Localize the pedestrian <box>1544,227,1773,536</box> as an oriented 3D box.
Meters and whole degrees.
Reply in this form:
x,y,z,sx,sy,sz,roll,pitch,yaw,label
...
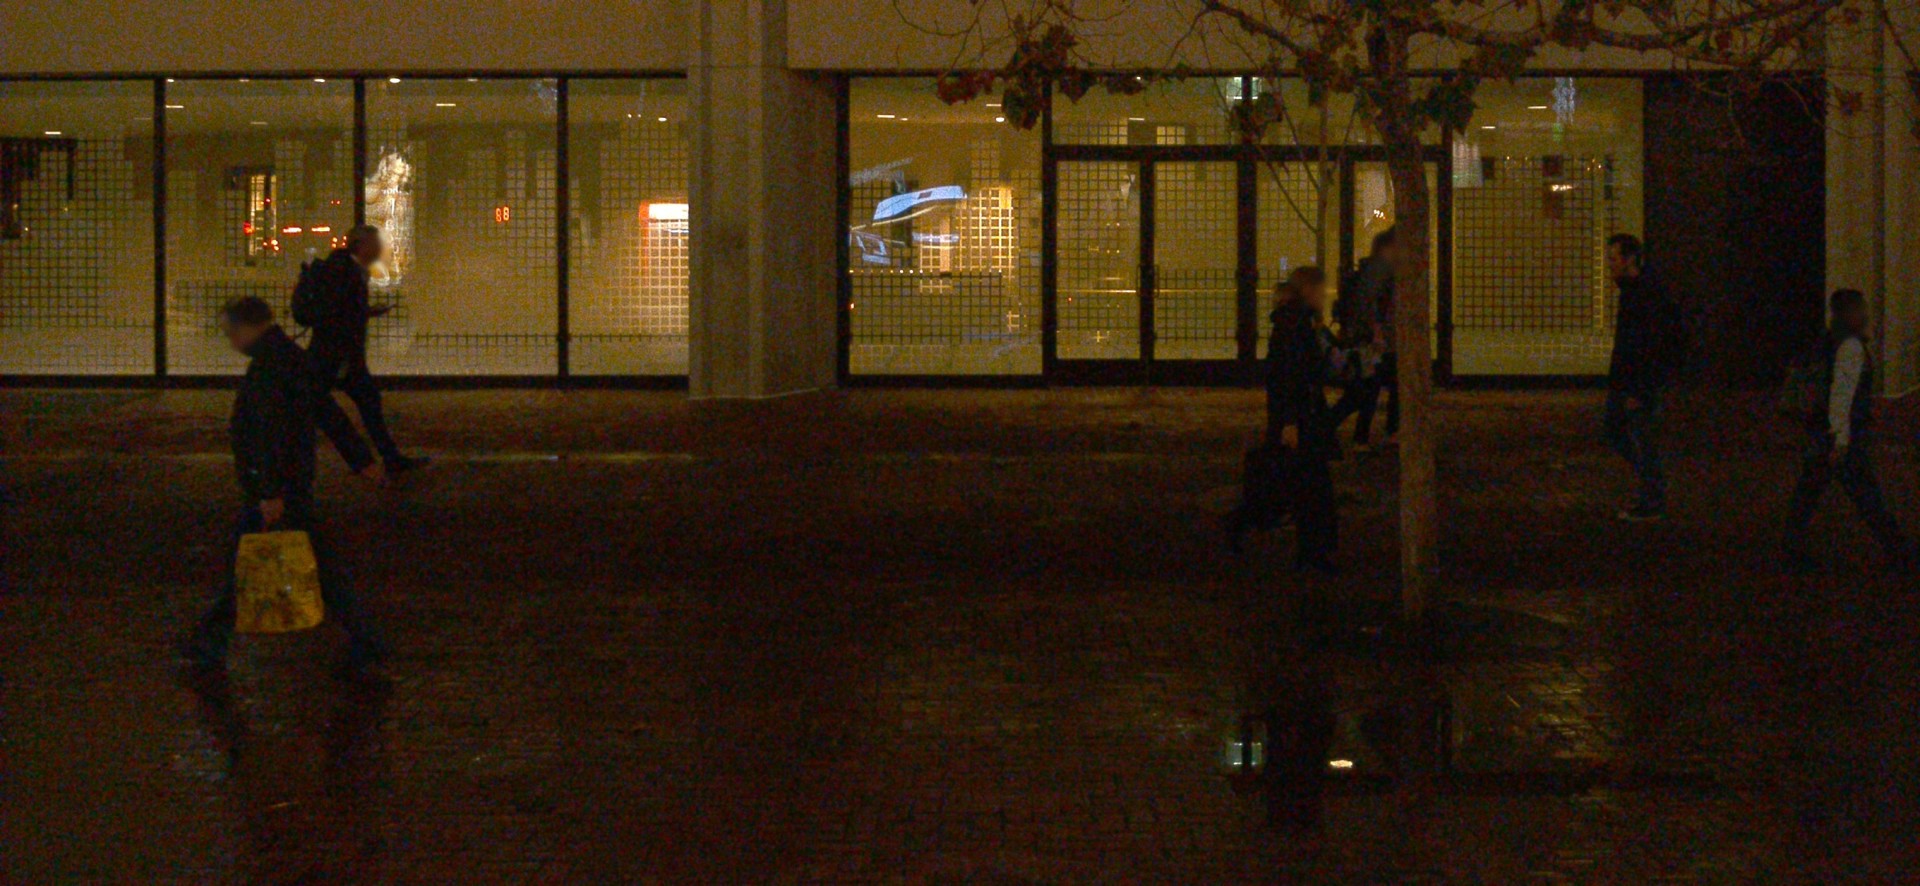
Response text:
x,y,z,sx,sy,sz,roll,pitch,yaw,label
4.314,-0.406,12.775,1.142,1.851,0.759,0,0,-3,pedestrian

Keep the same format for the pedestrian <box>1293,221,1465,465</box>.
x,y,z,sx,sy,sz,roll,pitch,yaw,label
3.083,-0.754,15.223,1.132,1.761,0.747,0,0,1,pedestrian

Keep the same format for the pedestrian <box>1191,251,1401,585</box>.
x,y,z,sx,sy,sz,roll,pitch,yaw,label
1.868,-0.184,11.354,1.090,1.751,0.971,0,1,11,pedestrian

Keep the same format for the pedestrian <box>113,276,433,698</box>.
x,y,z,sx,sy,sz,roll,pitch,yaw,label
-2.975,0.142,9.026,1.063,1.741,0.945,0,1,2,pedestrian

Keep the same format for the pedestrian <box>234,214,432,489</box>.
x,y,z,sx,sy,sz,roll,pitch,yaw,label
-4.294,-0.650,14.167,1.111,1.831,0.844,0,1,-1,pedestrian

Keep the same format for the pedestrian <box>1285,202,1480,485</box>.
x,y,z,sx,sy,sz,roll,pitch,yaw,label
2.957,-0.718,14.519,1.195,1.931,0.895,0,1,1,pedestrian
